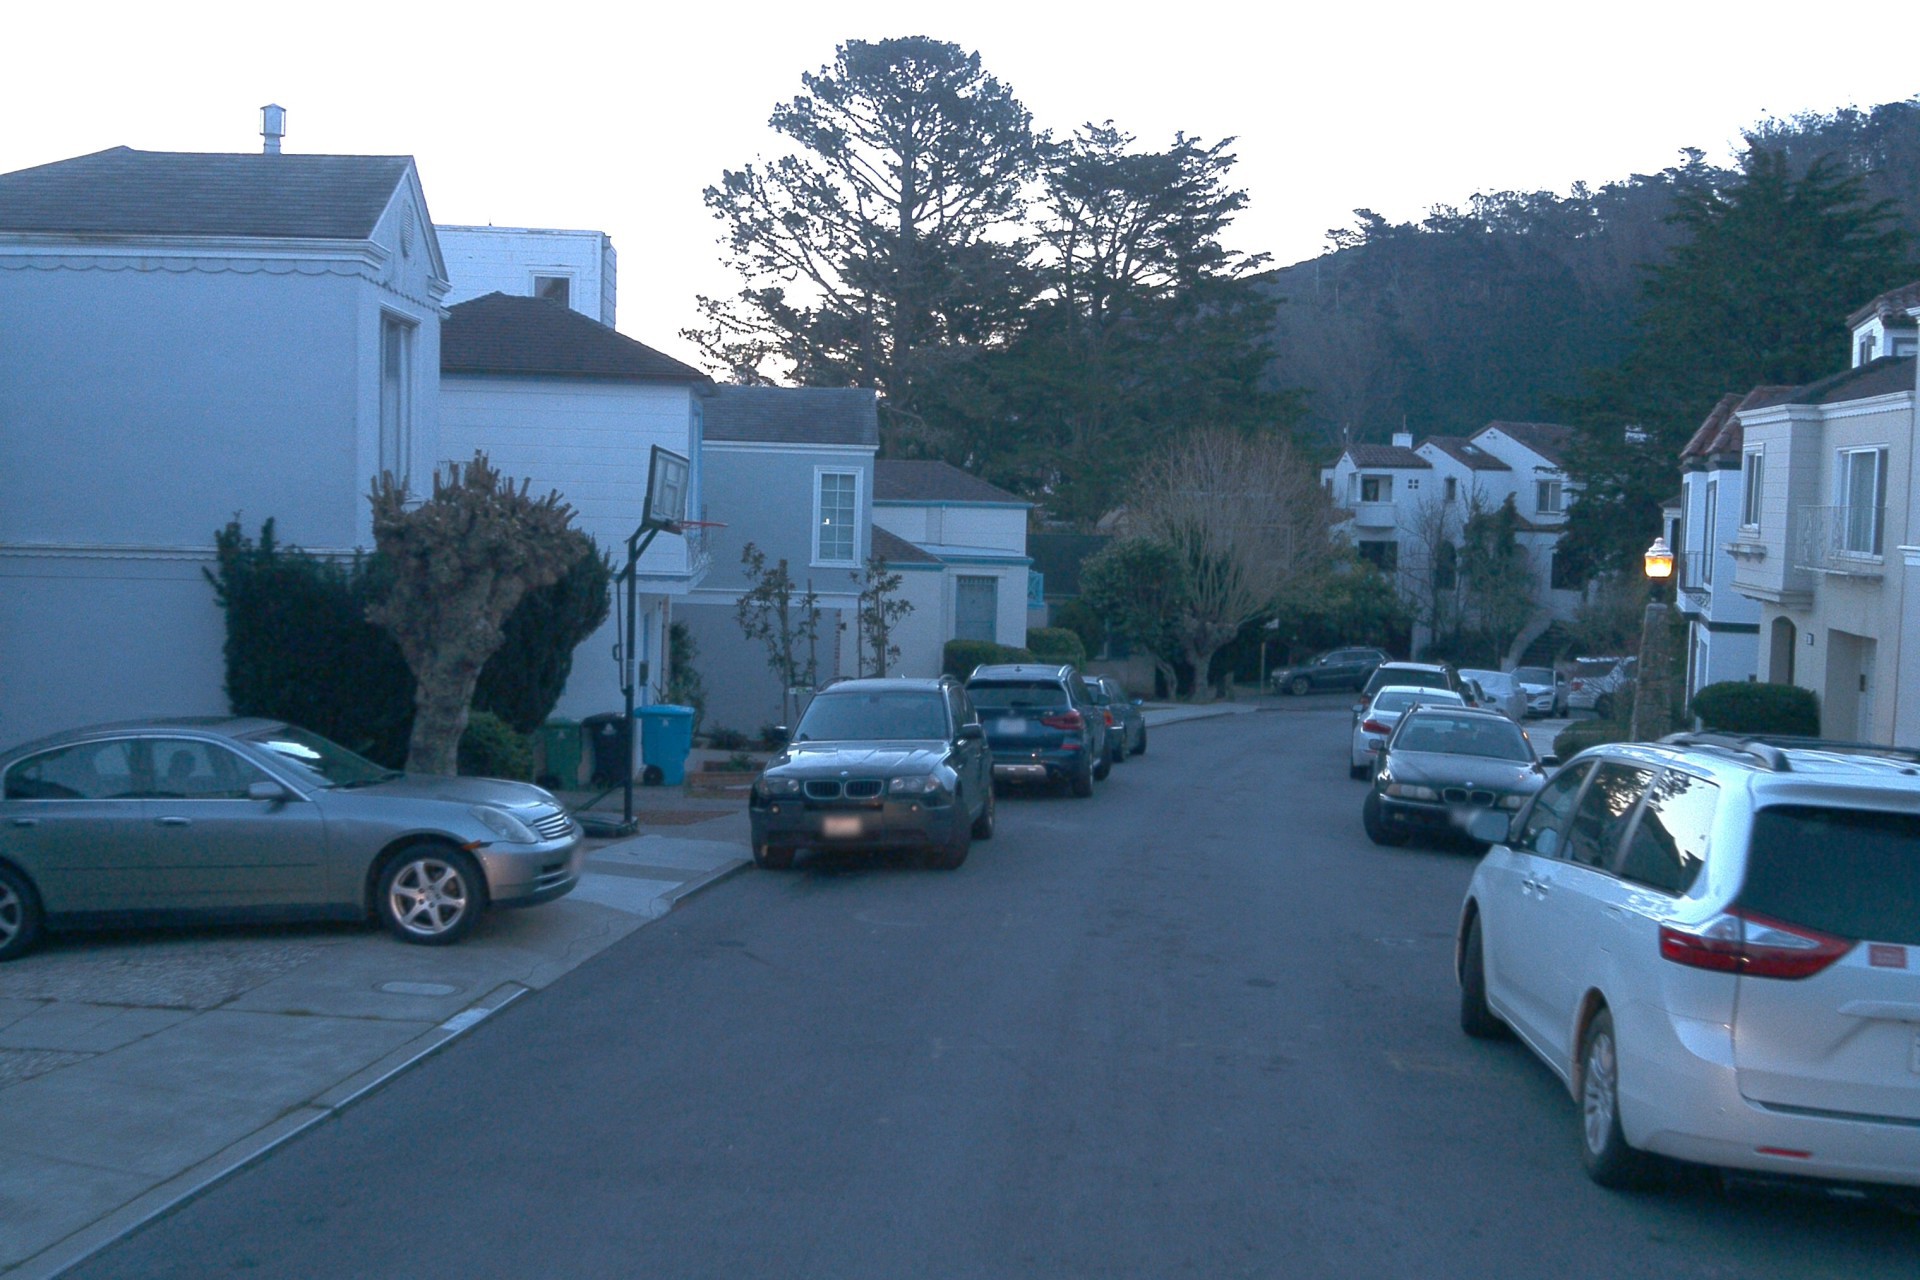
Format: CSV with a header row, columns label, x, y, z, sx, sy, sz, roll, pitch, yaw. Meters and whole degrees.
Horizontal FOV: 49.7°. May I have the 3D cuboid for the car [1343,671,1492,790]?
label,x,y,z,sx,sy,sz,roll,pitch,yaw
car,7.164,1.335,32.296,2.107,1.660,4.900,0,0,13

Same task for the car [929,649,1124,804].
label,x,y,z,sx,sy,sz,roll,pitch,yaw
car,0.987,1.061,27.473,2.210,1.870,4.683,0,0,7

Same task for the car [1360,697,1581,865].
label,x,y,z,sx,sy,sz,roll,pitch,yaw
car,5.497,1.453,22.874,2.125,1.520,4.900,0,0,11

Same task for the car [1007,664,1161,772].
label,x,y,z,sx,sy,sz,roll,pitch,yaw
car,2.129,1.235,34.425,1.919,1.640,4.462,0,0,12

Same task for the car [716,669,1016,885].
label,x,y,z,sx,sy,sz,roll,pitch,yaw
car,-0.730,1.166,19.479,2.095,1.740,4.526,0,0,7
